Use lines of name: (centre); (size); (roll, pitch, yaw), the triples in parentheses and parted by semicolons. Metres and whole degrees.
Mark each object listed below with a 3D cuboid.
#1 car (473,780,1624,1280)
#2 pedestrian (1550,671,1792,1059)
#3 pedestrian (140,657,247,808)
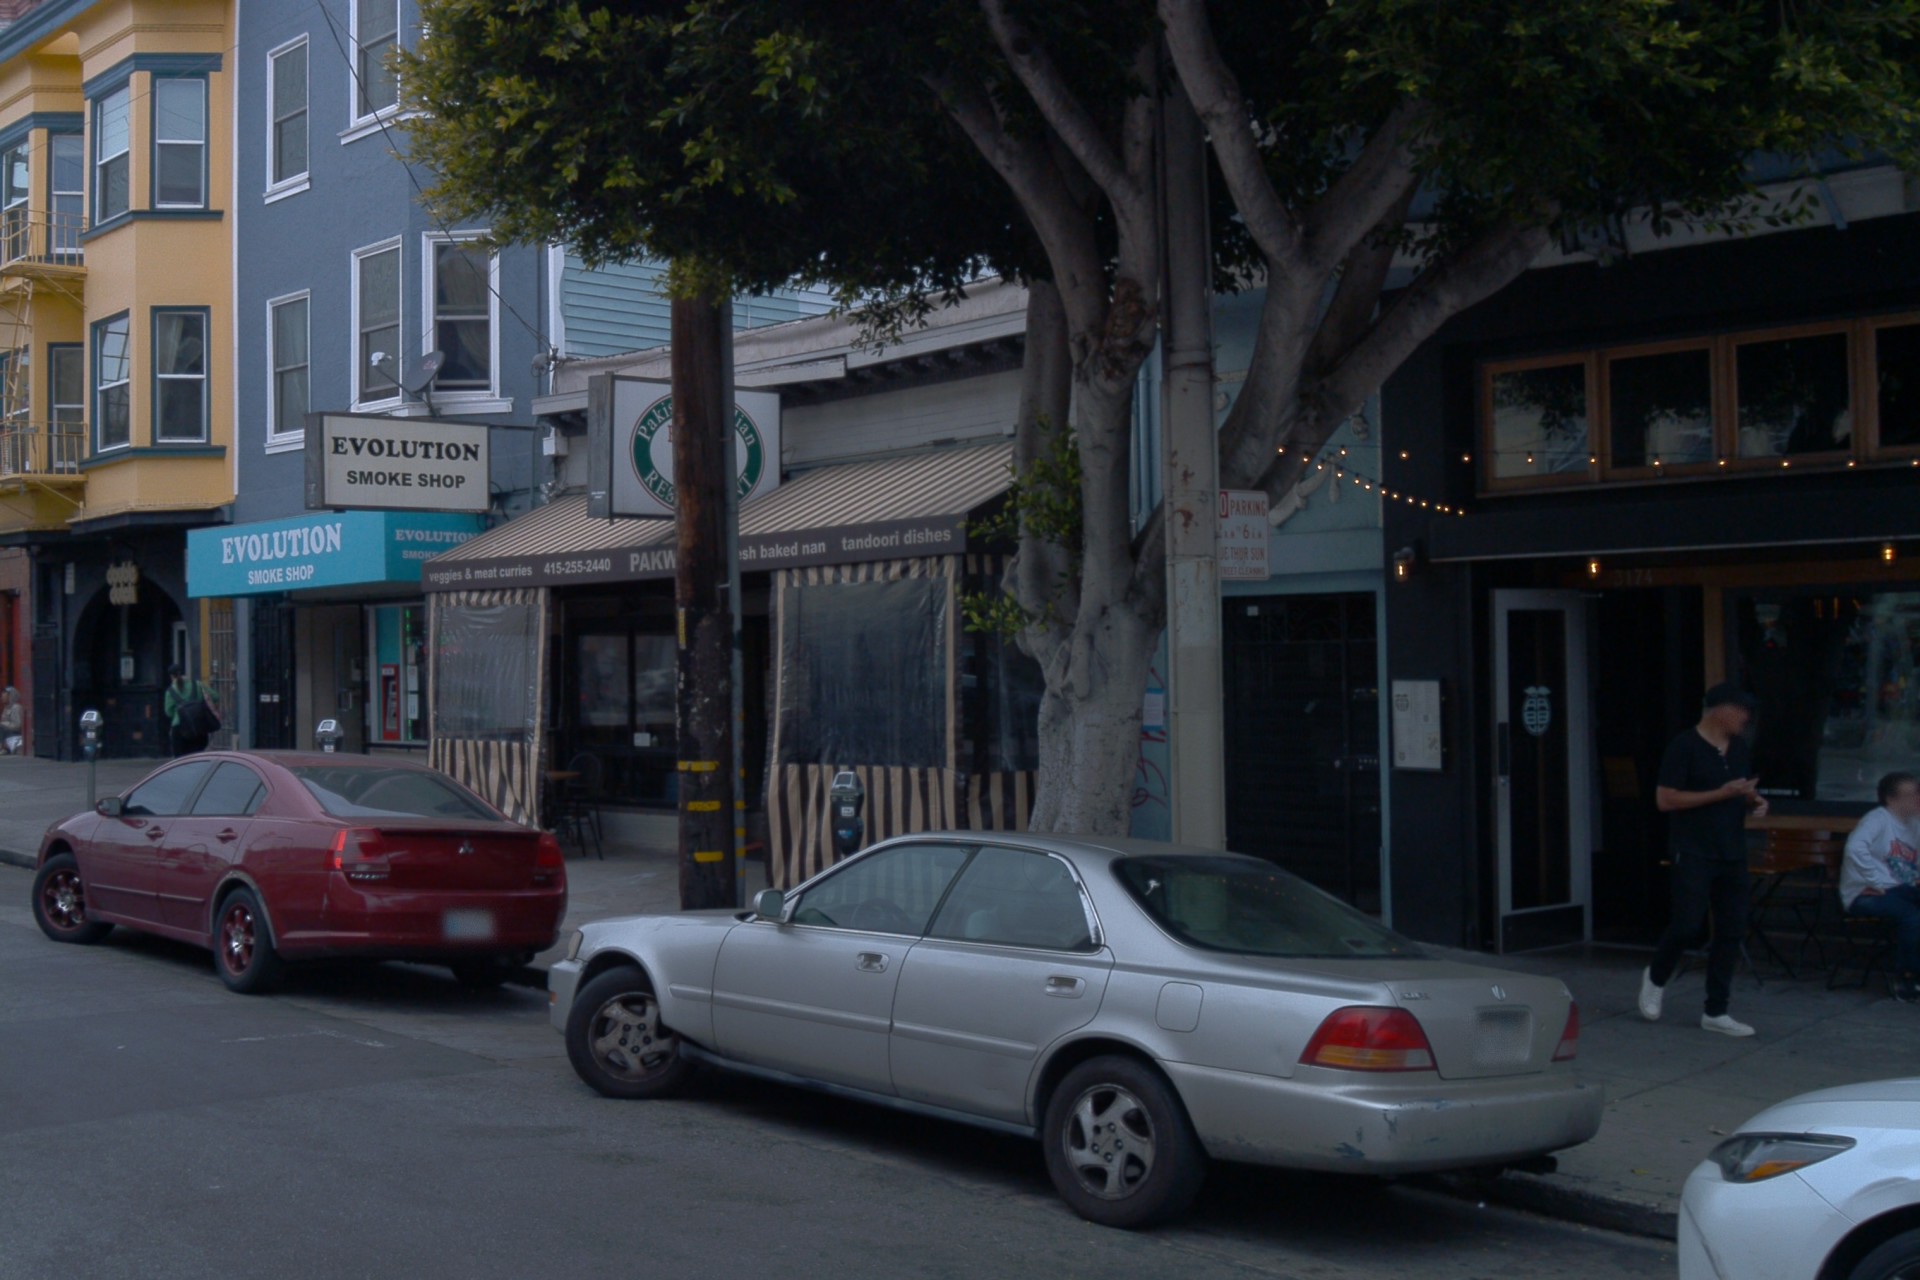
car: (0.155, 1.553, 9.184); (4.875, 1.490, 2.149); (0, 1, 43)
pedestrian: (3.842, 1.169, 11.214); (0.807, 1.970, 0.949); (0, 1, -21)
pedestrian: (-9.287, 1.099, 25.020); (0.910, 1.750, 1.078); (-1, 1, -39)
